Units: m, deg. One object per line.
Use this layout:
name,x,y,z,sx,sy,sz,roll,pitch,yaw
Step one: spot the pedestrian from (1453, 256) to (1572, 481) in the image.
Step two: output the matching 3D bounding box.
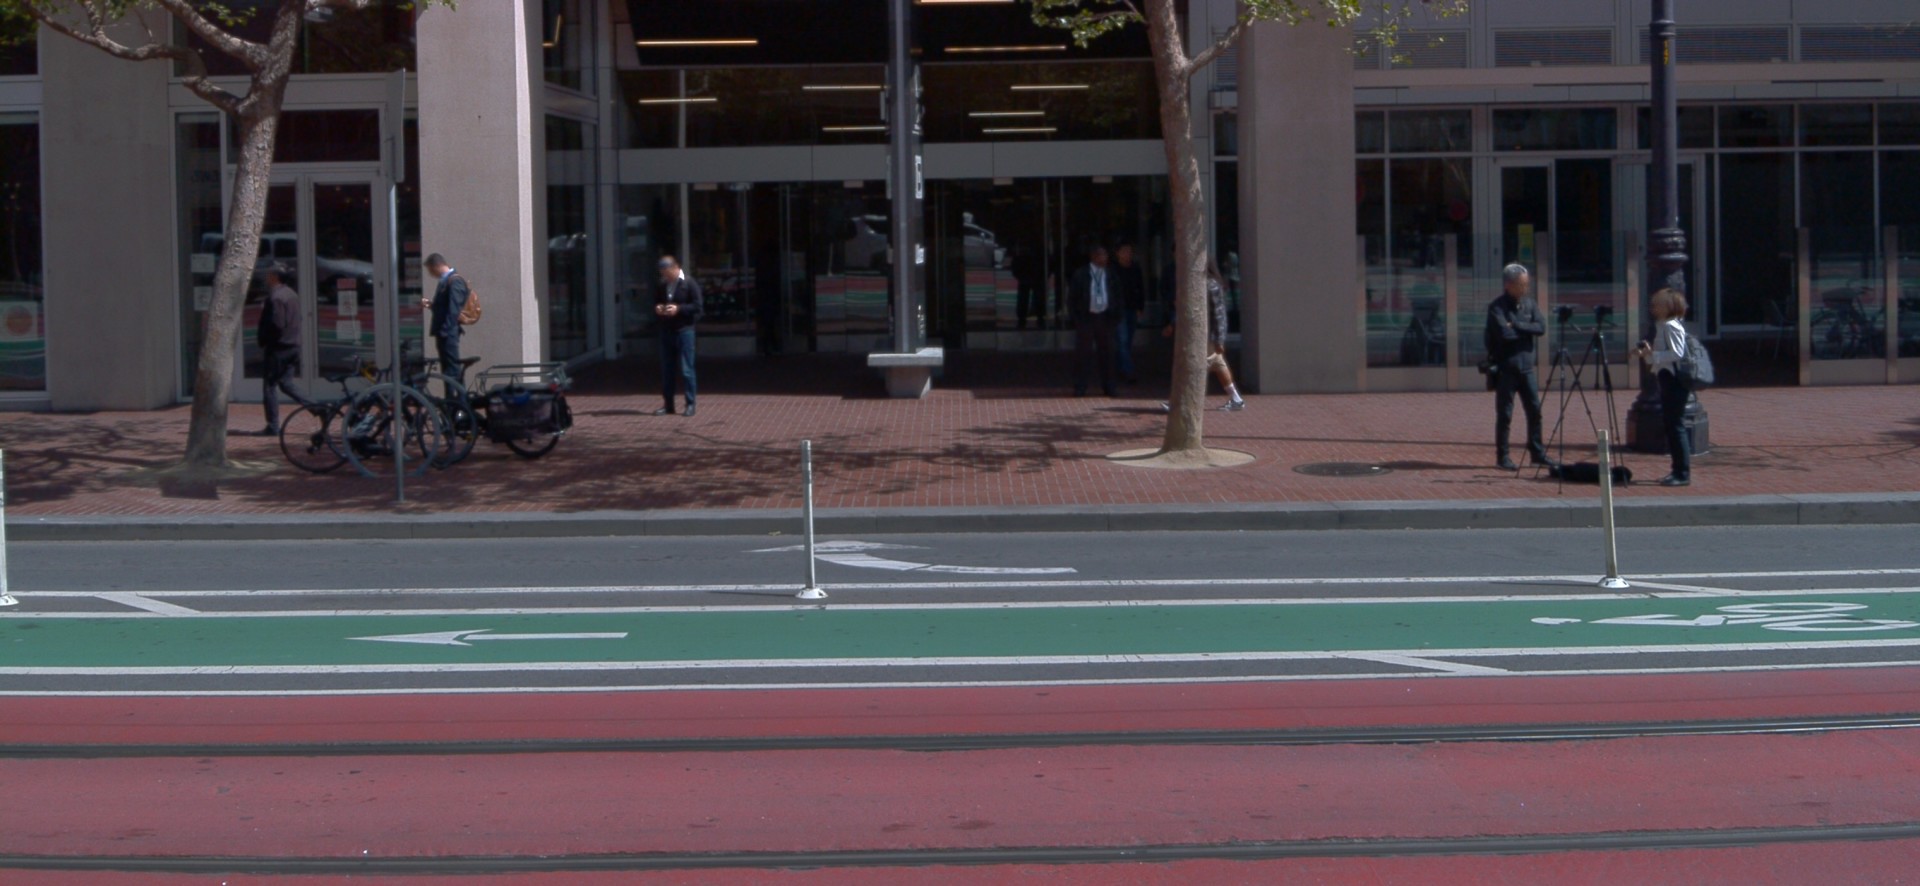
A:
pedestrian,4.769,-0.669,17.886,0.759,1.876,0.809,-1,2,-5

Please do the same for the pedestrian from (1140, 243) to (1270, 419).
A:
pedestrian,2.636,-1.231,22.327,1.164,1.826,0.845,-1,2,-13

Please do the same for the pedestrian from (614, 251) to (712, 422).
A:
pedestrian,-3.268,-1.192,22.771,0.740,1.816,0.739,1,2,34

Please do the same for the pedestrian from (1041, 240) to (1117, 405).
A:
pedestrian,1.381,-1.410,23.884,0.815,1.856,0.802,0,2,7

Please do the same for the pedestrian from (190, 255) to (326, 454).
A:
pedestrian,-7.262,-0.934,21.422,1.076,2.006,0.782,0,2,6

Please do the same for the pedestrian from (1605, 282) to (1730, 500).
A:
pedestrian,5.825,-0.454,17.010,0.817,1.707,0.673,1,2,35

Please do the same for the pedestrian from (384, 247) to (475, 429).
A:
pedestrian,-5.781,-1.163,22.528,0.692,1.916,0.716,-2,2,-41
